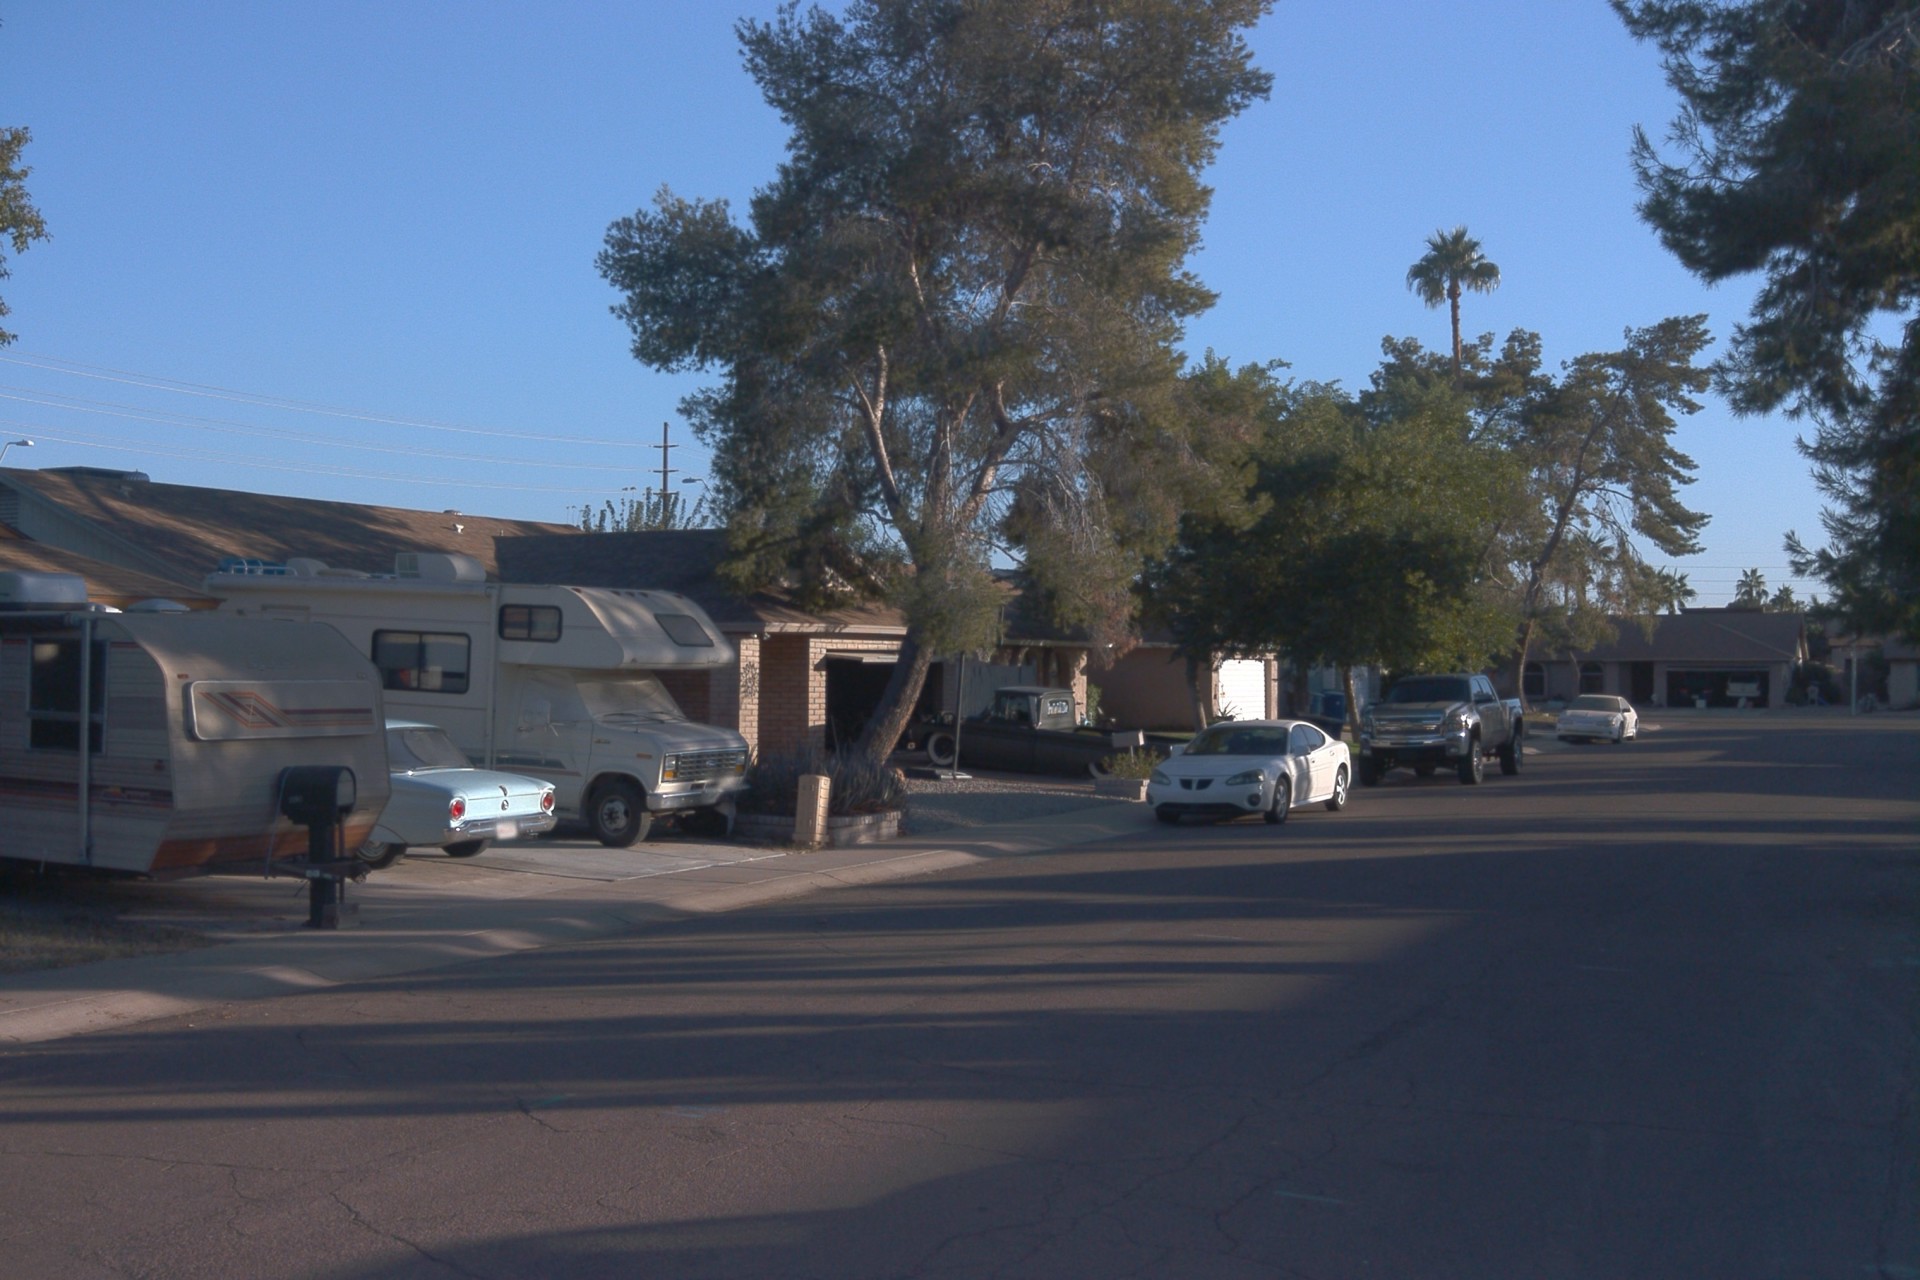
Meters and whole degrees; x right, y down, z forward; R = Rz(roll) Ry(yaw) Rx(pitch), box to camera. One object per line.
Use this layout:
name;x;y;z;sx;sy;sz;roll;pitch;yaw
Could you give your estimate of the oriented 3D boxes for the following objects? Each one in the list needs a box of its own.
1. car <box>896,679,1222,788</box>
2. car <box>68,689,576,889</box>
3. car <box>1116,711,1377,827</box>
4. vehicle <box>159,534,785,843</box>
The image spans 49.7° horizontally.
car;1.798;1.654;37.861;5.467;1.810;2.325;0;-1;27
car;-6.610;1.451;21.436;4.909;1.820;1.951;0;-1;24
car;4.315;1.821;30.425;2.204;1.460;5.058;0;-1;28
vehicle;-5.852;0.539;24.809;6.886;3.280;2.978;0;-1;25
